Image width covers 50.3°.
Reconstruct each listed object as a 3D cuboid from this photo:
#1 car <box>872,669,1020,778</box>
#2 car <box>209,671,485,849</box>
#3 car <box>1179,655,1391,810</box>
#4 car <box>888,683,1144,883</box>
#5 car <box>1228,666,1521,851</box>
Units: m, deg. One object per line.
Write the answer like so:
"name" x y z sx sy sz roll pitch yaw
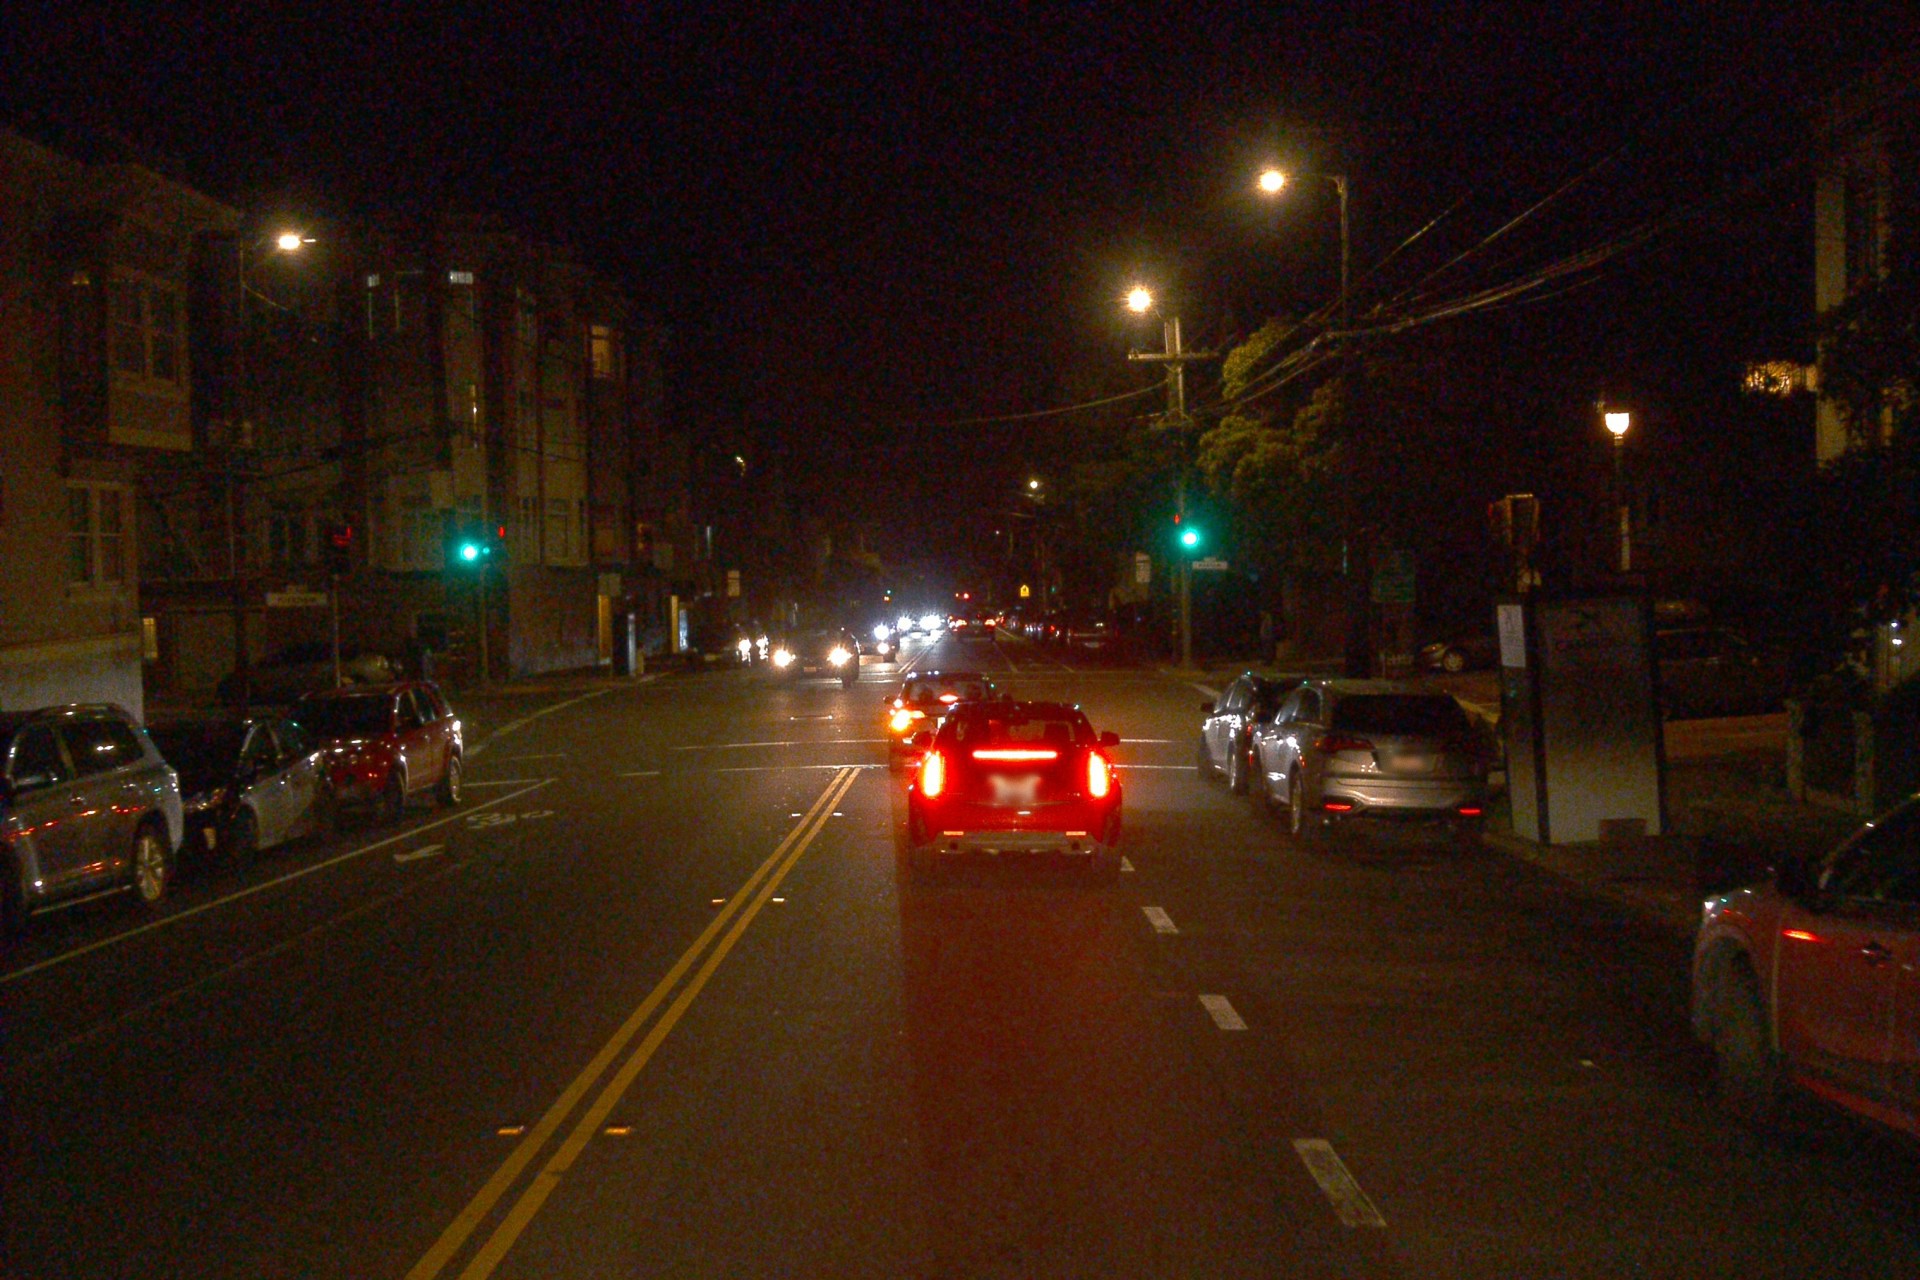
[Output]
"car" -0.180 1.199 30.967 2.071 1.420 4.587 1 0 0
"car" -7.501 1.400 25.557 1.998 1.910 4.650 1 0 1
"car" 4.266 1.161 27.587 2.084 1.830 4.587 1 0 0
"car" 0.522 1.208 18.863 2.067 1.490 4.418 1 0 2
"car" 4.341 1.185 22.275 2.250 1.690 4.768 1 0 1
